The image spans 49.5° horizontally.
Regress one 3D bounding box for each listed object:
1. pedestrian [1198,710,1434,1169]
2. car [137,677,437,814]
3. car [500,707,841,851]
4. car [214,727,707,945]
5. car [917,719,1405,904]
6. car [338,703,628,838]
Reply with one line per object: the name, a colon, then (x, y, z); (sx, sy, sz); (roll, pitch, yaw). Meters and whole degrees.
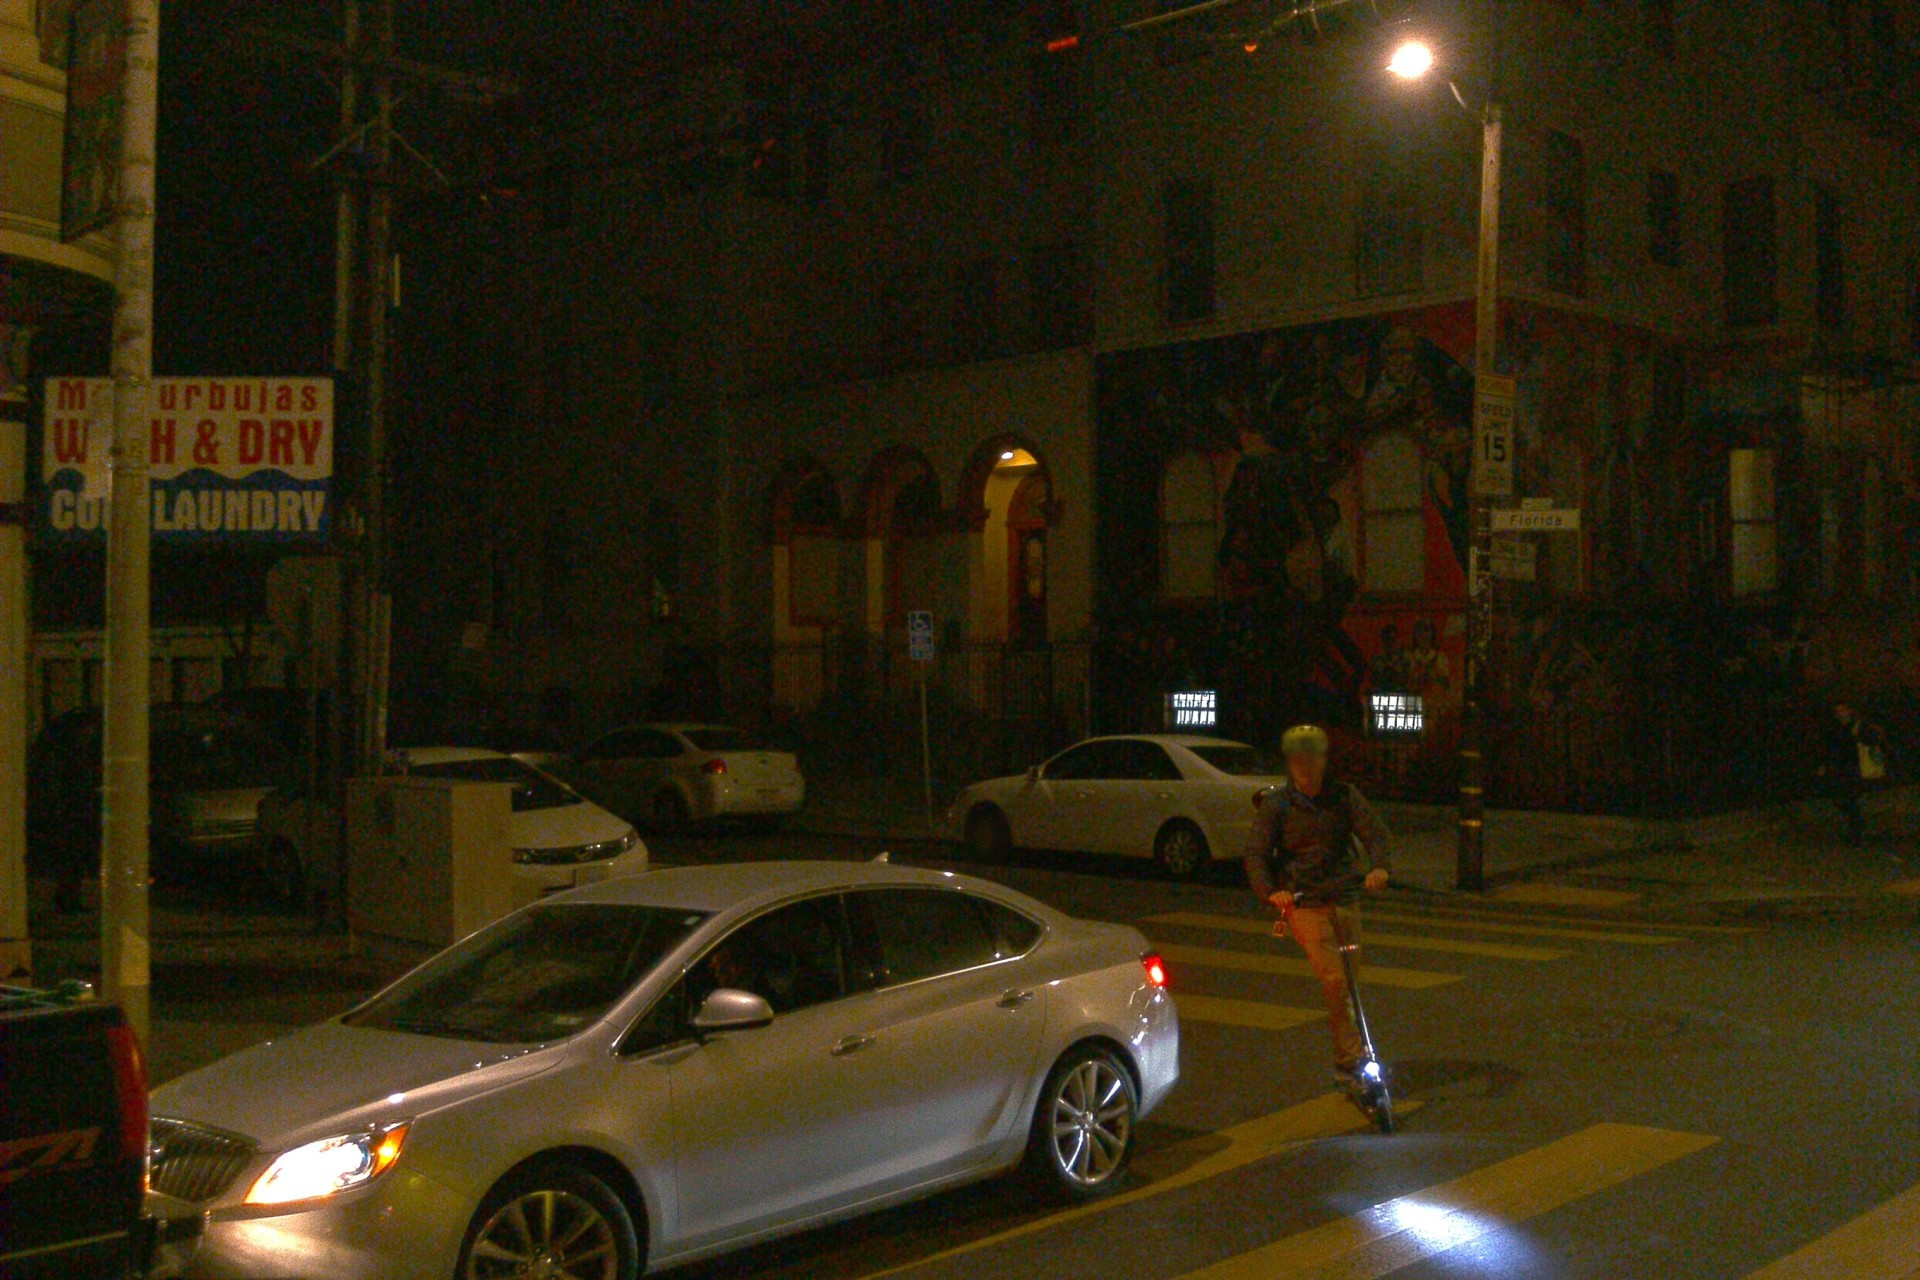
pedestrian: (1.645, 1.340, 9.846); (0.993, 1.961, 1.320); (1, 0, 5)
car: (-11.549, 1.707, 35.450); (5.593, 2.030, 2.552); (1, 0, 45)
car: (-3.930, 1.780, 27.809); (4.484, 1.590, 2.154); (1, 0, 43)
car: (-4.597, 1.638, 18.701); (4.684, 1.490, 2.131); (1, 0, 45)
car: (2.024, 1.706, 22.058); (2.249, 1.540, 4.811); (1, 0, -45)
car: (-7.189, 1.872, 31.122); (4.412, 1.720, 2.202); (1, 0, 45)
